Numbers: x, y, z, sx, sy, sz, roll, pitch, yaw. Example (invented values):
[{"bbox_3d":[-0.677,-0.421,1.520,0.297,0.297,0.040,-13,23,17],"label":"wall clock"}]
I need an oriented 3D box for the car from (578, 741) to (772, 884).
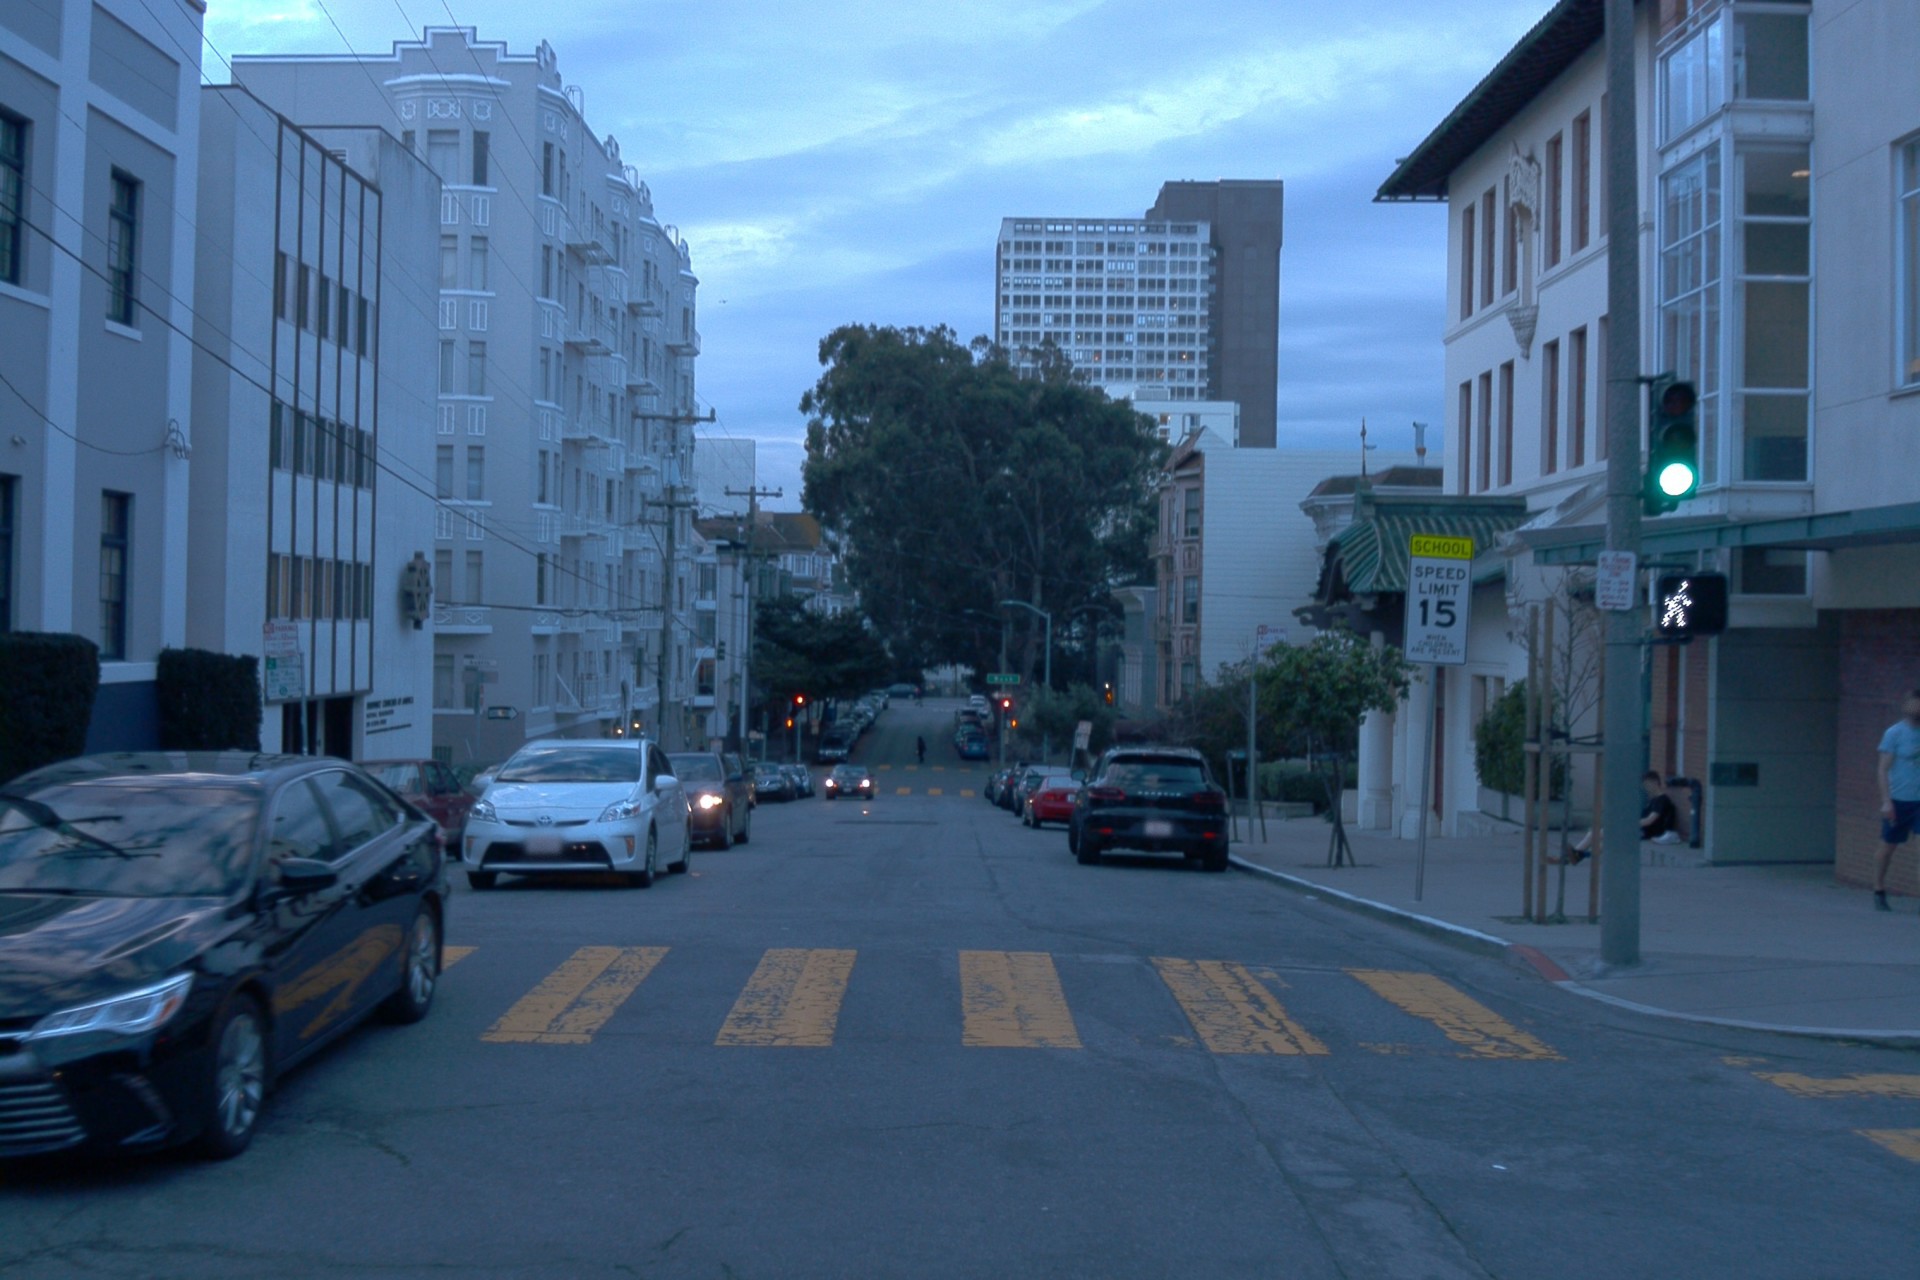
[{"bbox_3d":[-4.110,2.472,30.412,2.146,1.600,4.698,1,1,1],"label":"car"}]

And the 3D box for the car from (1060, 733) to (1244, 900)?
[{"bbox_3d":[2.530,2.325,28.215,2.188,1.760,4.713,1,1,2],"label":"car"}]

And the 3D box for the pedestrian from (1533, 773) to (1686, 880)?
[{"bbox_3d":[8.080,2.312,25.640,1.524,1.200,1.090,1,1,-1],"label":"pedestrian"}]

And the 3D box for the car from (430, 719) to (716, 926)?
[{"bbox_3d":[-3.776,1.739,20.875,2.034,1.600,4.431,1,1,0],"label":"car"}]

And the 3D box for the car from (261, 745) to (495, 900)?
[{"bbox_3d":[-7.245,2.228,26.044,1.773,1.480,4.408,1,1,-1],"label":"car"}]
